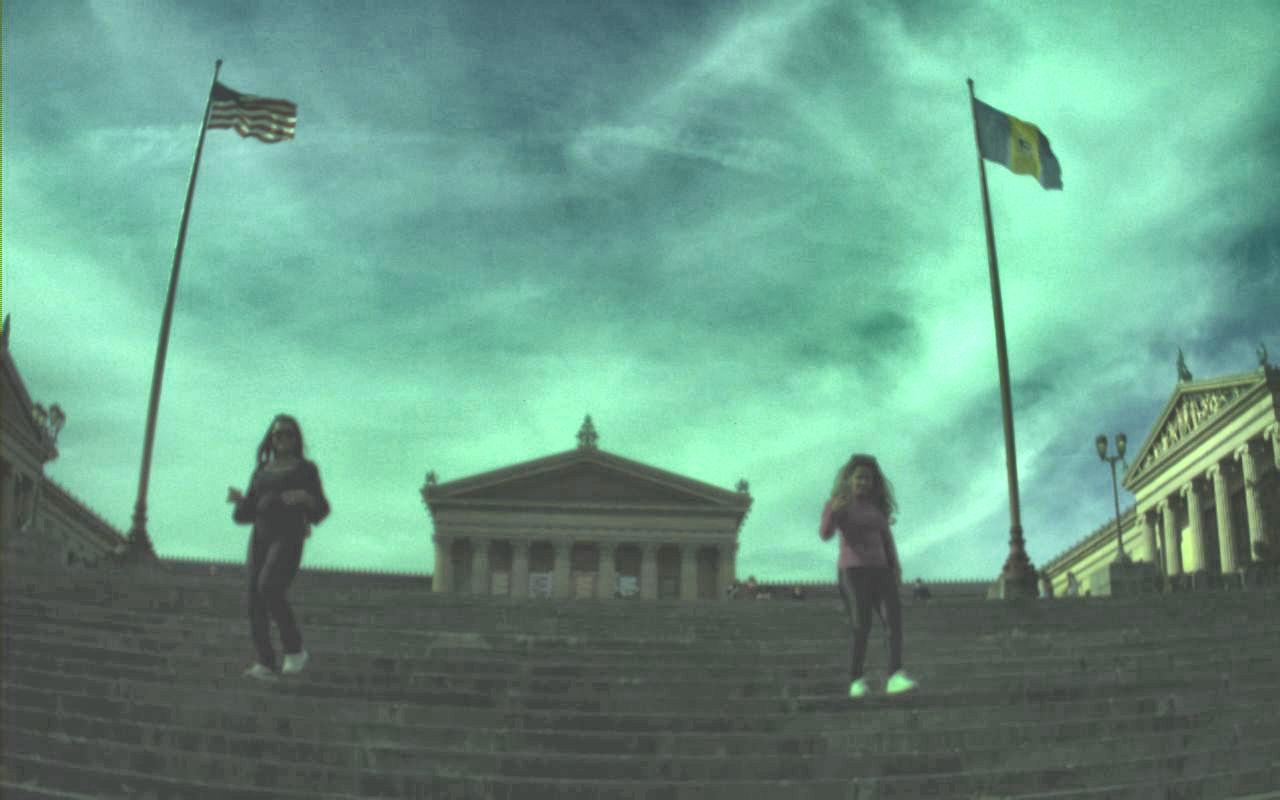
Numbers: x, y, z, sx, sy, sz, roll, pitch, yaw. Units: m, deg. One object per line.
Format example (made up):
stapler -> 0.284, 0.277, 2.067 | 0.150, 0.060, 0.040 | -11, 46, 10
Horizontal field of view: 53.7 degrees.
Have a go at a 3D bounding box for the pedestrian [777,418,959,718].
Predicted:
pedestrian -> 1.337, 0.959, 7.350 | 0.785, 1.664, 0.823 | 0, 0, -14

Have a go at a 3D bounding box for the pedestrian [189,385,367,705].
pedestrian -> -2.179, 0.837, 7.263 | 0.778, 1.817, 0.807 | 0, 0, 11
